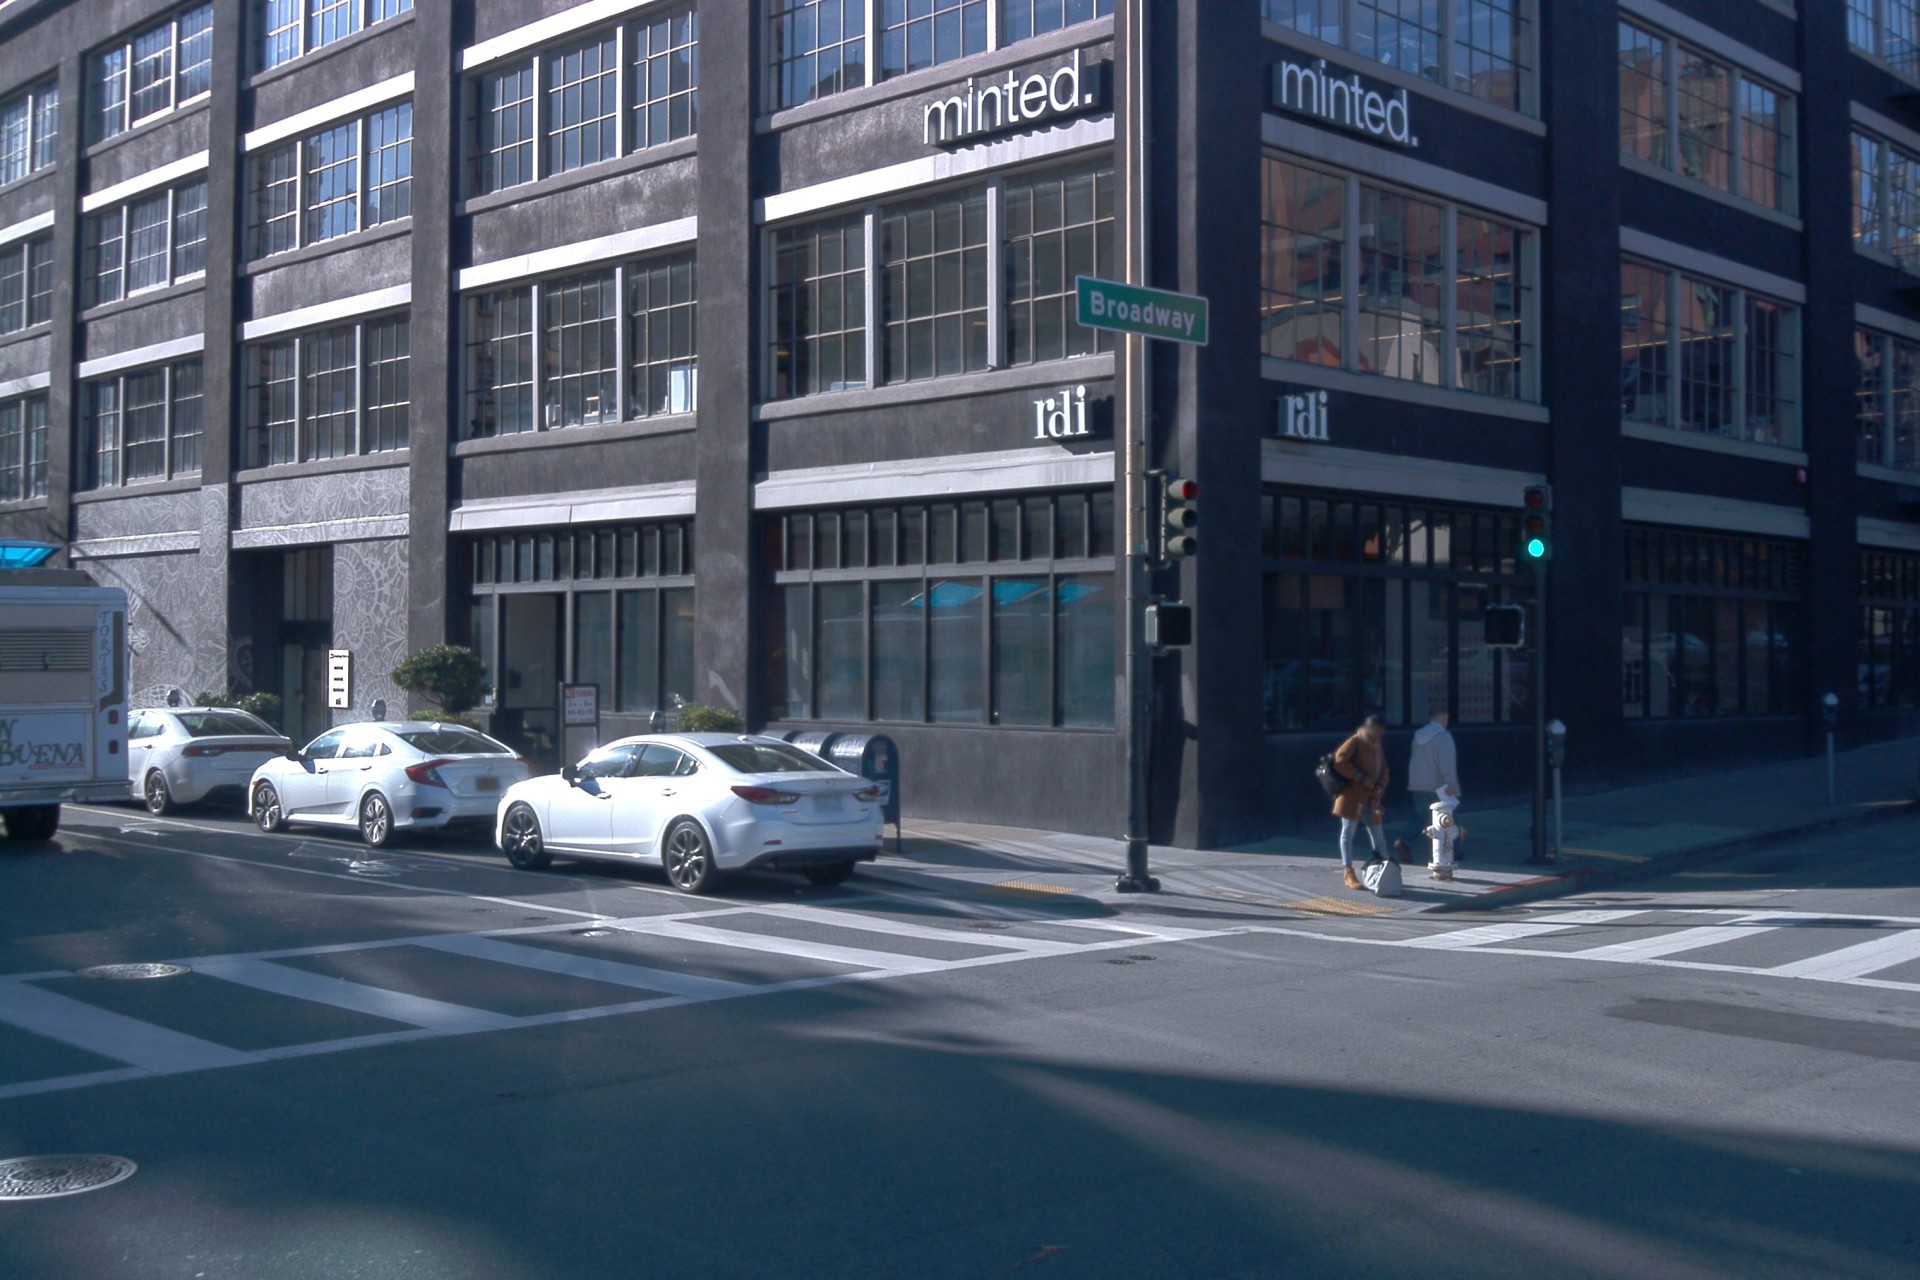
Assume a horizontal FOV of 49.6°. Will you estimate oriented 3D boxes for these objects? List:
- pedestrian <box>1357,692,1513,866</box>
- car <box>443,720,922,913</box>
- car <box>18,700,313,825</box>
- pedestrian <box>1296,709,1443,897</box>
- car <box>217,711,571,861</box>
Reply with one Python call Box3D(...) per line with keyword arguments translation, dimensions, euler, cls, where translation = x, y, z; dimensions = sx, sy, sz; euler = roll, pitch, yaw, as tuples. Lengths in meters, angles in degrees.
Box3D(translation=(4.878, 1.393, 21.300), dimensions=(1.254, 1.690, 1.039), euler=(2, -1, -45), cls="pedestrian")
Box3D(translation=(-2.837, 1.619, 20.421), dimensions=(2.162, 1.510, 4.830), euler=(2, -1, -45), cls="car")
Box3D(translation=(-11.043, 1.625, 28.694), dimensions=(4.495, 1.480, 2.124), euler=(0, -1, 45), cls="car")
Box3D(translation=(3.849, 1.510, 19.564), dimensions=(0.985, 1.680, 1.012), euler=(1, -1, -19), cls="pedestrian")
Box3D(translation=(-6.779, 1.648, 24.620), dimensions=(2.159, 1.470, 4.409), euler=(2, -1, -44), cls="car")
